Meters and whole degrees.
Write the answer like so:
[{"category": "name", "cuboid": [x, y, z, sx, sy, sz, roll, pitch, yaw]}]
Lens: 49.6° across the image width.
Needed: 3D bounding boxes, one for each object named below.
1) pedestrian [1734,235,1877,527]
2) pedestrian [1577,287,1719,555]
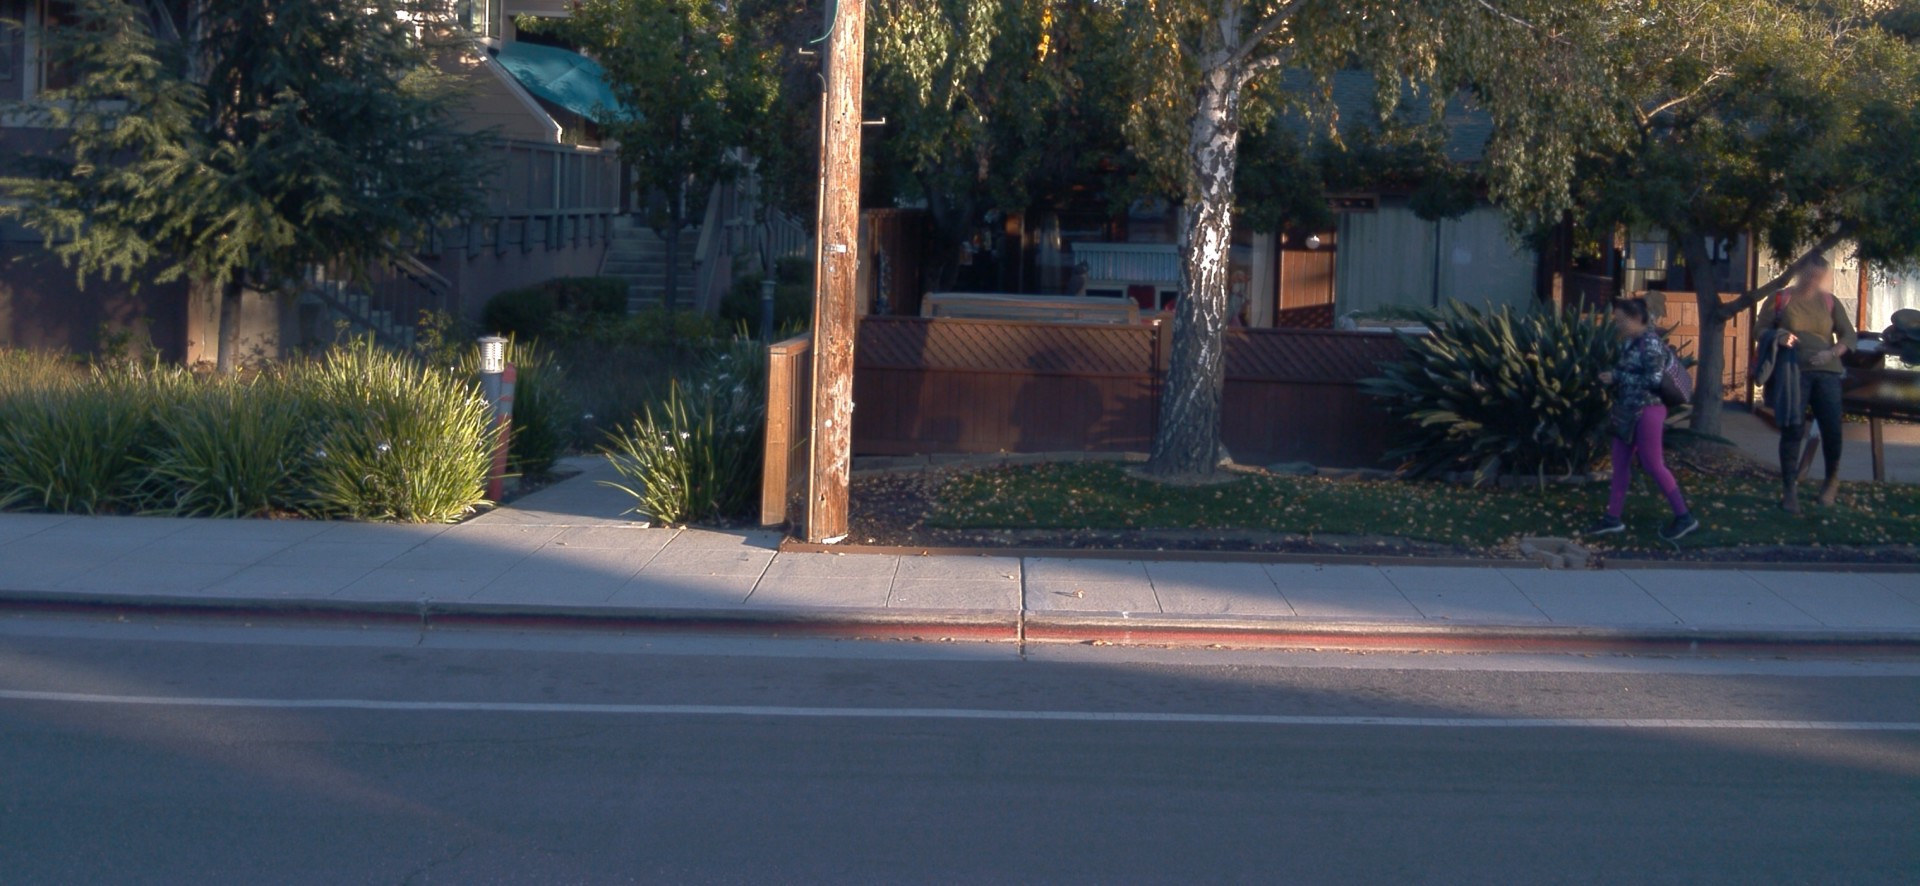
[{"category": "pedestrian", "cuboid": [5.752, -0.456, 14.160, 0.795, 1.896, 0.795, 1, 2, 16]}, {"category": "pedestrian", "cuboid": [4.519, -0.167, 13.681, 0.710, 1.687, 0.692, 1, 2, 3]}]
